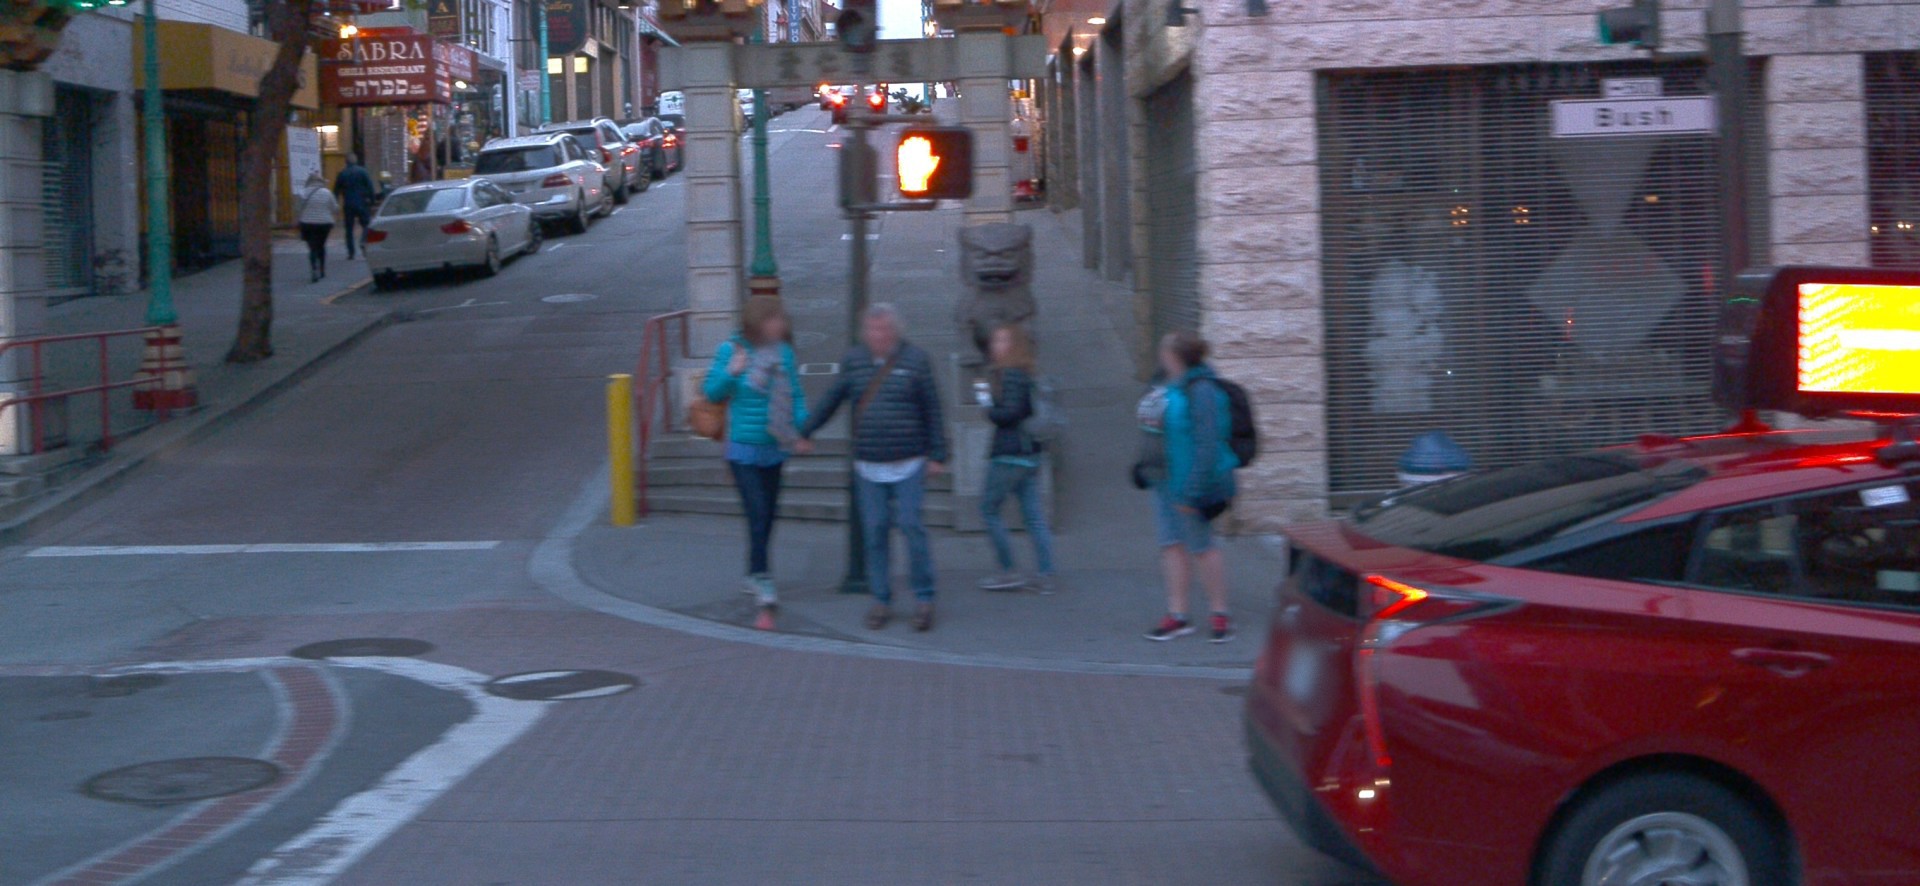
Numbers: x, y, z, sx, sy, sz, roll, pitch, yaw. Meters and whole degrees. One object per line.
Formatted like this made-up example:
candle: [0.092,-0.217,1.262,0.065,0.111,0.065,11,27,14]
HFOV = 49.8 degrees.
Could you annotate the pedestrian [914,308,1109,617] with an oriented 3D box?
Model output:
pedestrian: [0.299,0.072,11.981,0.823,1.657,0.752,2,3,43]

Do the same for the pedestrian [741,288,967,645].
pedestrian: [-0.564,0.079,11.363,0.963,1.816,1.005,0,3,15]

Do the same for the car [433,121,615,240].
car: [-7.735,-4.686,37.140,2.229,1.960,4.596,0,6,1]

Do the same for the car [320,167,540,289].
car: [-7.868,-3.266,31.164,2.091,1.681,4.479,0,6,1]

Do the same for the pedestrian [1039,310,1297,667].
pedestrian: [1.112,0.183,10.976,0.976,1.706,0.988,1,3,38]

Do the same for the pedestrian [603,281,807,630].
pedestrian: [-1.416,0.030,11.660,0.925,1.846,0.939,0,2,7]
